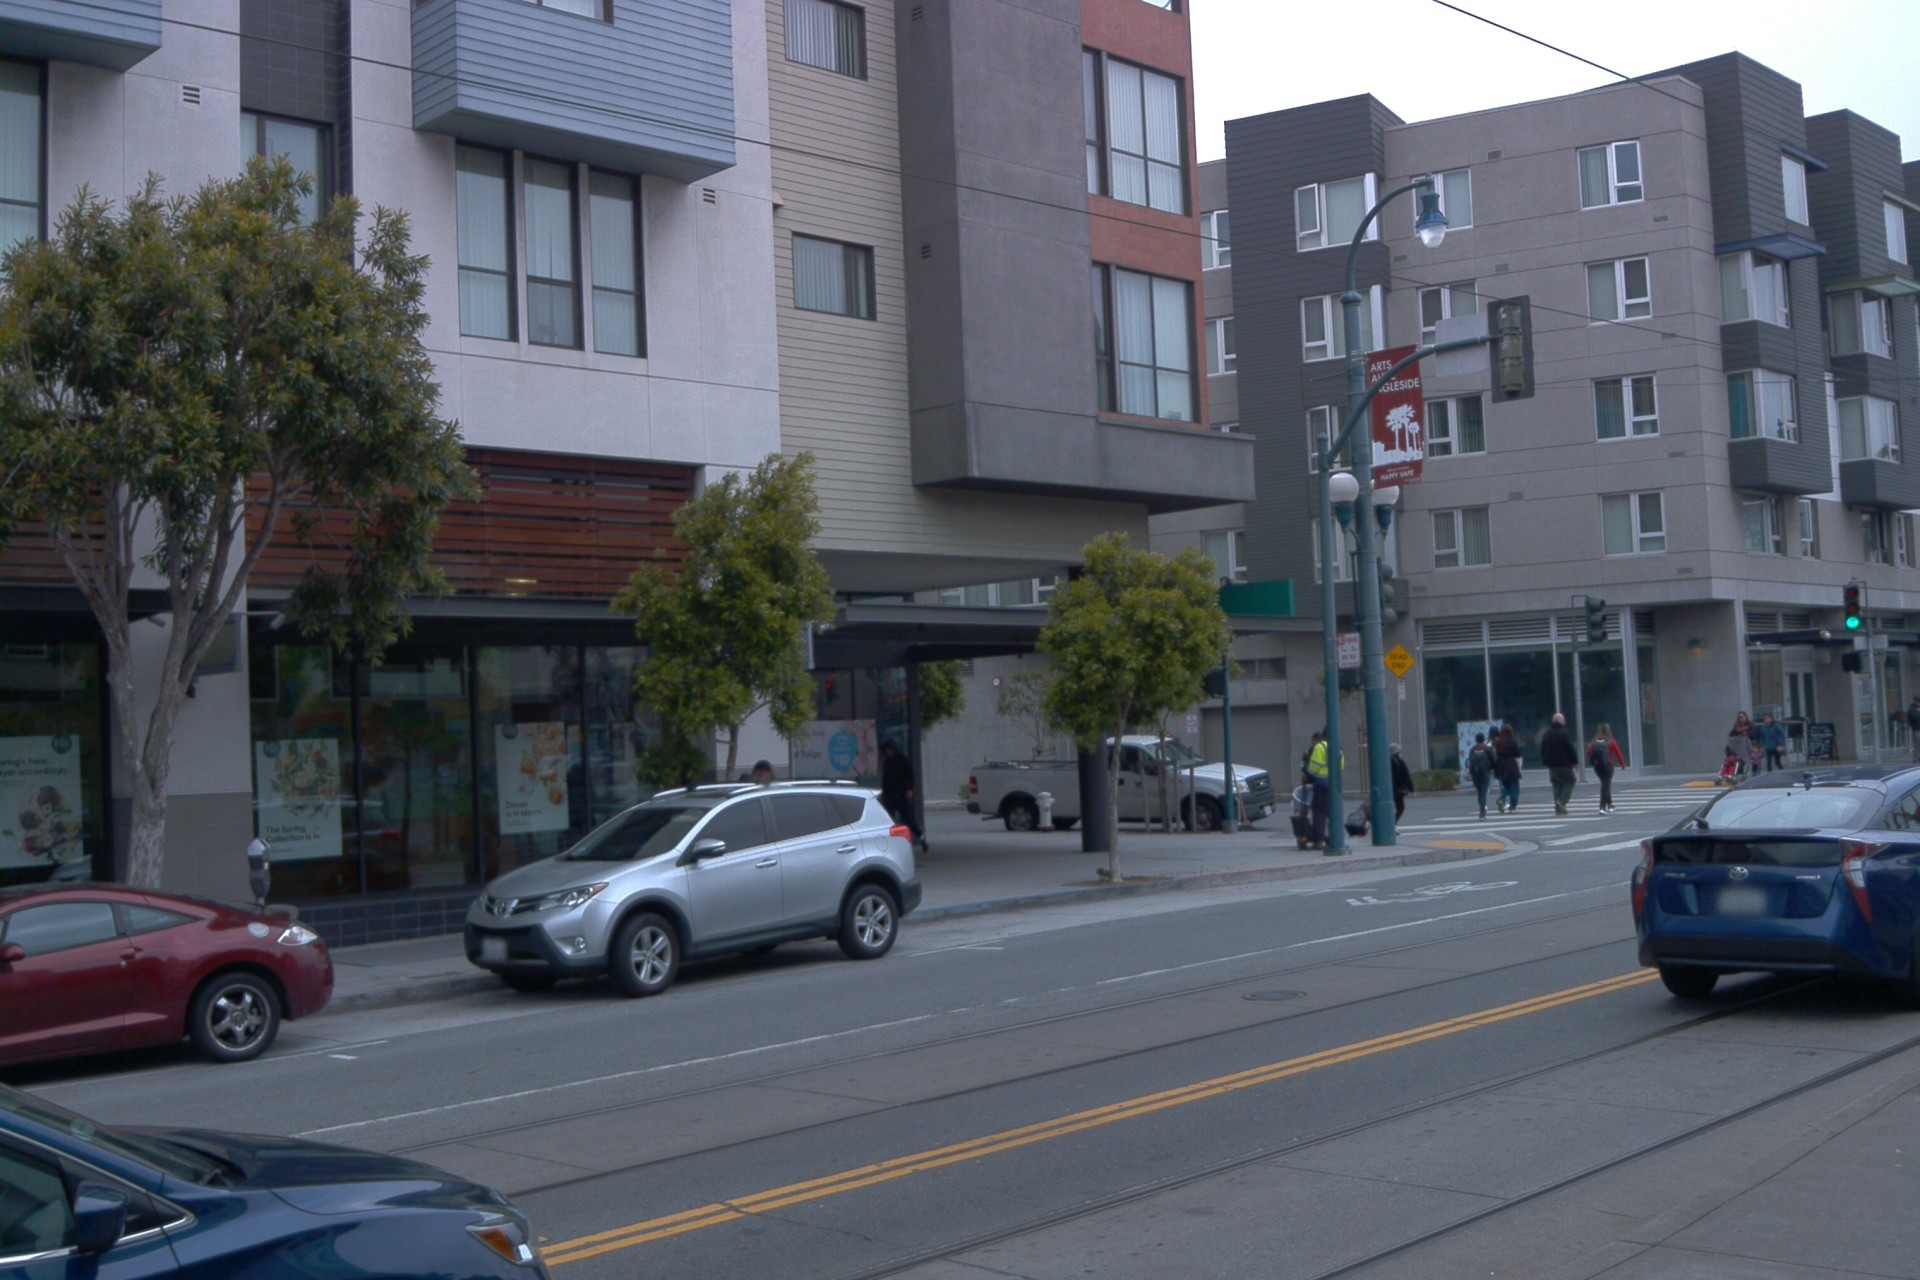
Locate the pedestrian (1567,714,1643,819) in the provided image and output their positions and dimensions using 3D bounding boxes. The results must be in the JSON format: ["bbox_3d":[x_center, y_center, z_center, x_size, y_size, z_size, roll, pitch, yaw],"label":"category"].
[{"bbox_3d":[11.251,2.193,36.023,0.983,1.730,0.885,-1,1,-42],"label":"pedestrian"}]

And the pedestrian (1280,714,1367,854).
[{"bbox_3d":[5.110,2.009,29.004,0.964,1.870,0.728,-1,1,-28],"label":"pedestrian"}]

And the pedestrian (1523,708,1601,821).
[{"bbox_3d":[10.659,2.182,36.561,0.990,1.900,0.906,-1,1,-39],"label":"pedestrian"}]

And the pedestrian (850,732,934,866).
[{"bbox_3d":[-1.043,2.428,31.818,0.840,1.940,1.078,1,1,30],"label":"pedestrian"}]

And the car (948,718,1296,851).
[{"bbox_3d":[3.002,2.626,38.647,6.039,2.050,2.348,1,1,28],"label":"car"}]

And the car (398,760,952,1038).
[{"bbox_3d":[-2.427,2.171,18.596,2.112,1.810,4.677,1,1,42],"label":"car"}]
